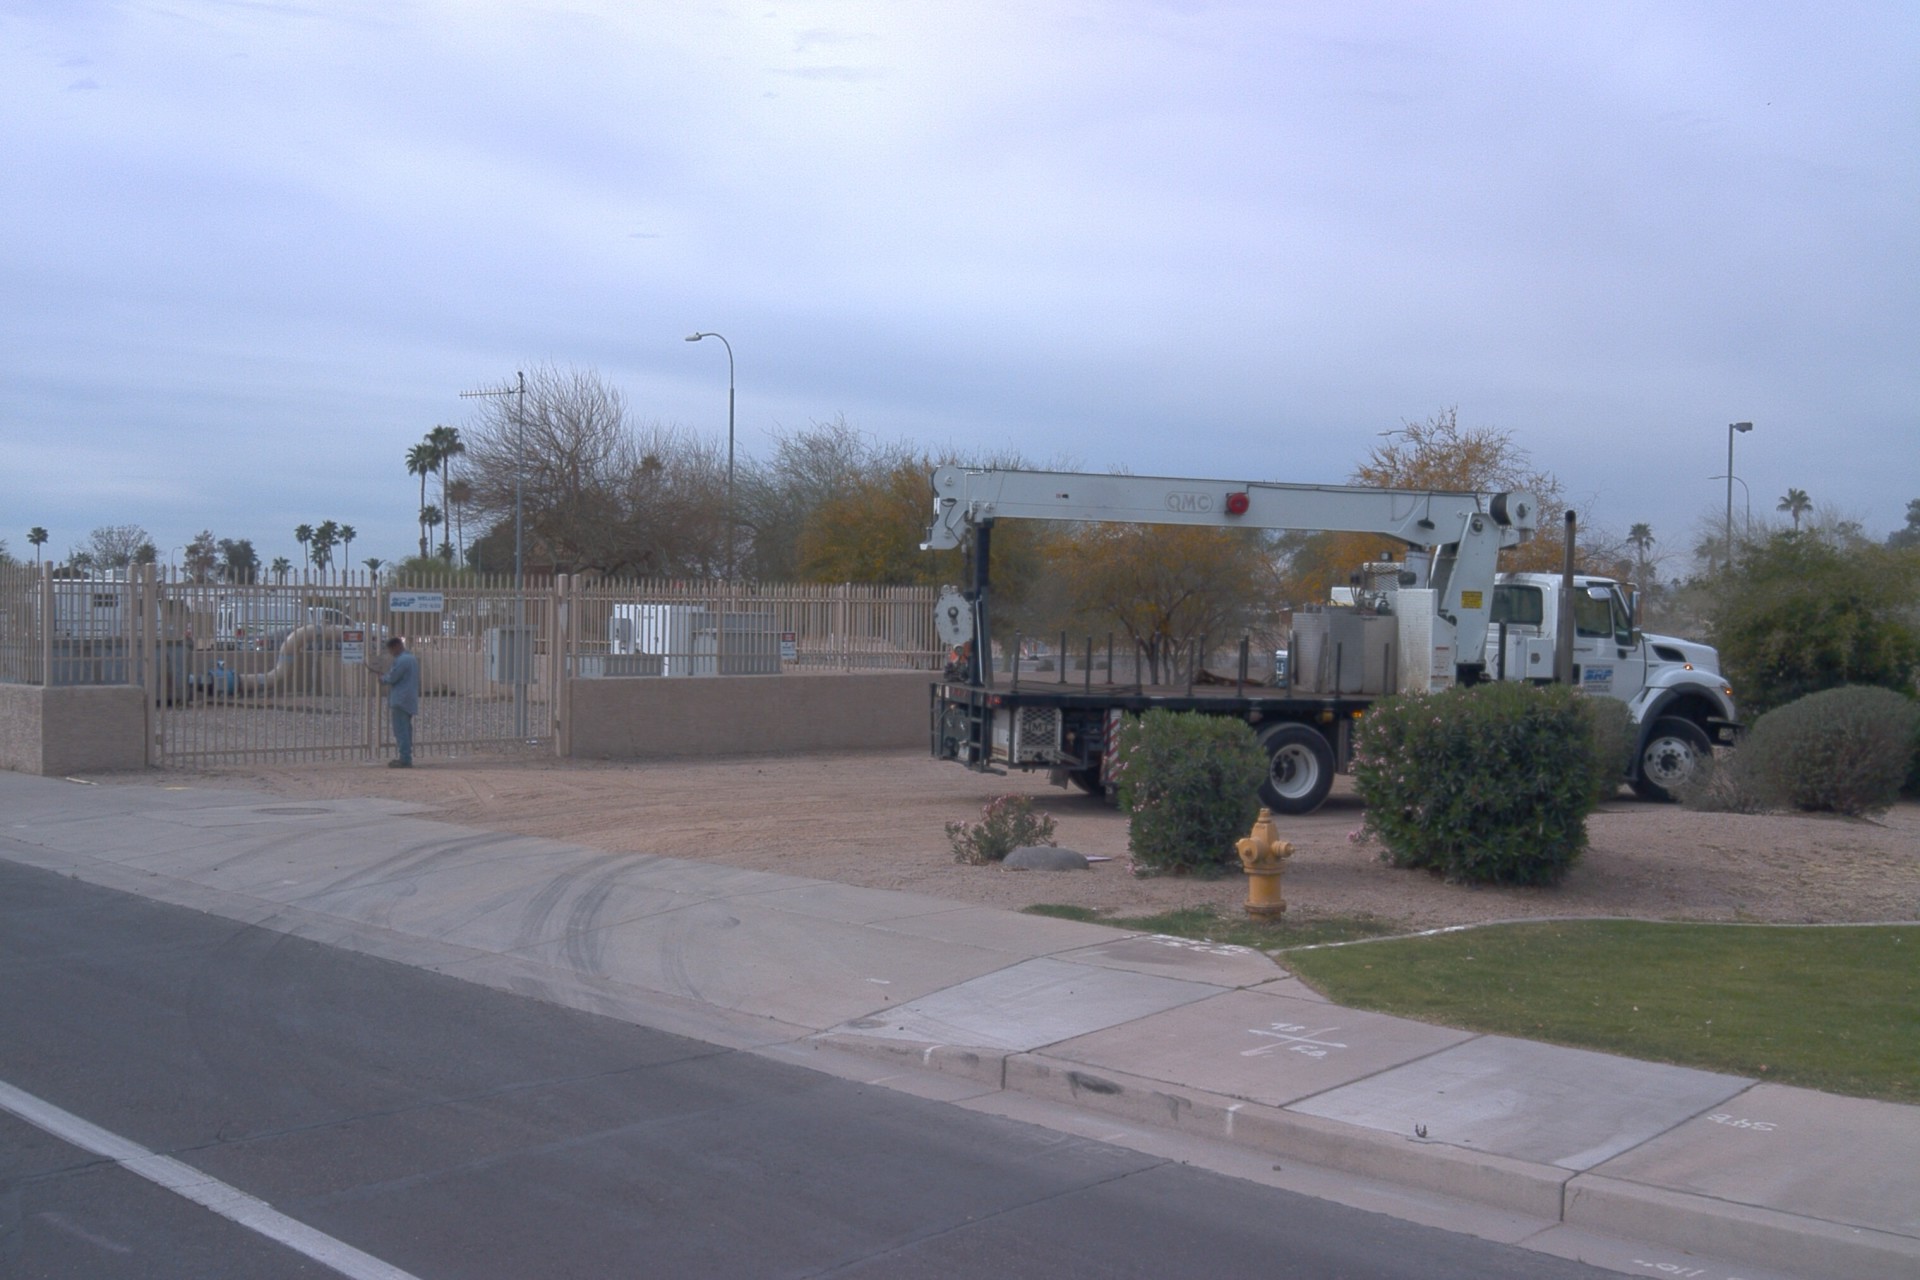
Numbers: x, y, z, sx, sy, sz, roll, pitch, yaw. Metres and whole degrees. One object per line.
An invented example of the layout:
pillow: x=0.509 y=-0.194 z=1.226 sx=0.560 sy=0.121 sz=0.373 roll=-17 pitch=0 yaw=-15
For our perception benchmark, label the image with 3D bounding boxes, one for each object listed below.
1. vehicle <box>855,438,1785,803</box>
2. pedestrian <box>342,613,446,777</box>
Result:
vehicle: x=4.253 y=-0.098 z=24.206 sx=10.390 sy=3.770 sz=3.375 roll=2 pitch=0 yaw=-16
pedestrian: x=-7.300 y=0.696 z=26.207 sx=0.983 sy=2.050 sz=0.839 roll=2 pitch=0 yaw=40
